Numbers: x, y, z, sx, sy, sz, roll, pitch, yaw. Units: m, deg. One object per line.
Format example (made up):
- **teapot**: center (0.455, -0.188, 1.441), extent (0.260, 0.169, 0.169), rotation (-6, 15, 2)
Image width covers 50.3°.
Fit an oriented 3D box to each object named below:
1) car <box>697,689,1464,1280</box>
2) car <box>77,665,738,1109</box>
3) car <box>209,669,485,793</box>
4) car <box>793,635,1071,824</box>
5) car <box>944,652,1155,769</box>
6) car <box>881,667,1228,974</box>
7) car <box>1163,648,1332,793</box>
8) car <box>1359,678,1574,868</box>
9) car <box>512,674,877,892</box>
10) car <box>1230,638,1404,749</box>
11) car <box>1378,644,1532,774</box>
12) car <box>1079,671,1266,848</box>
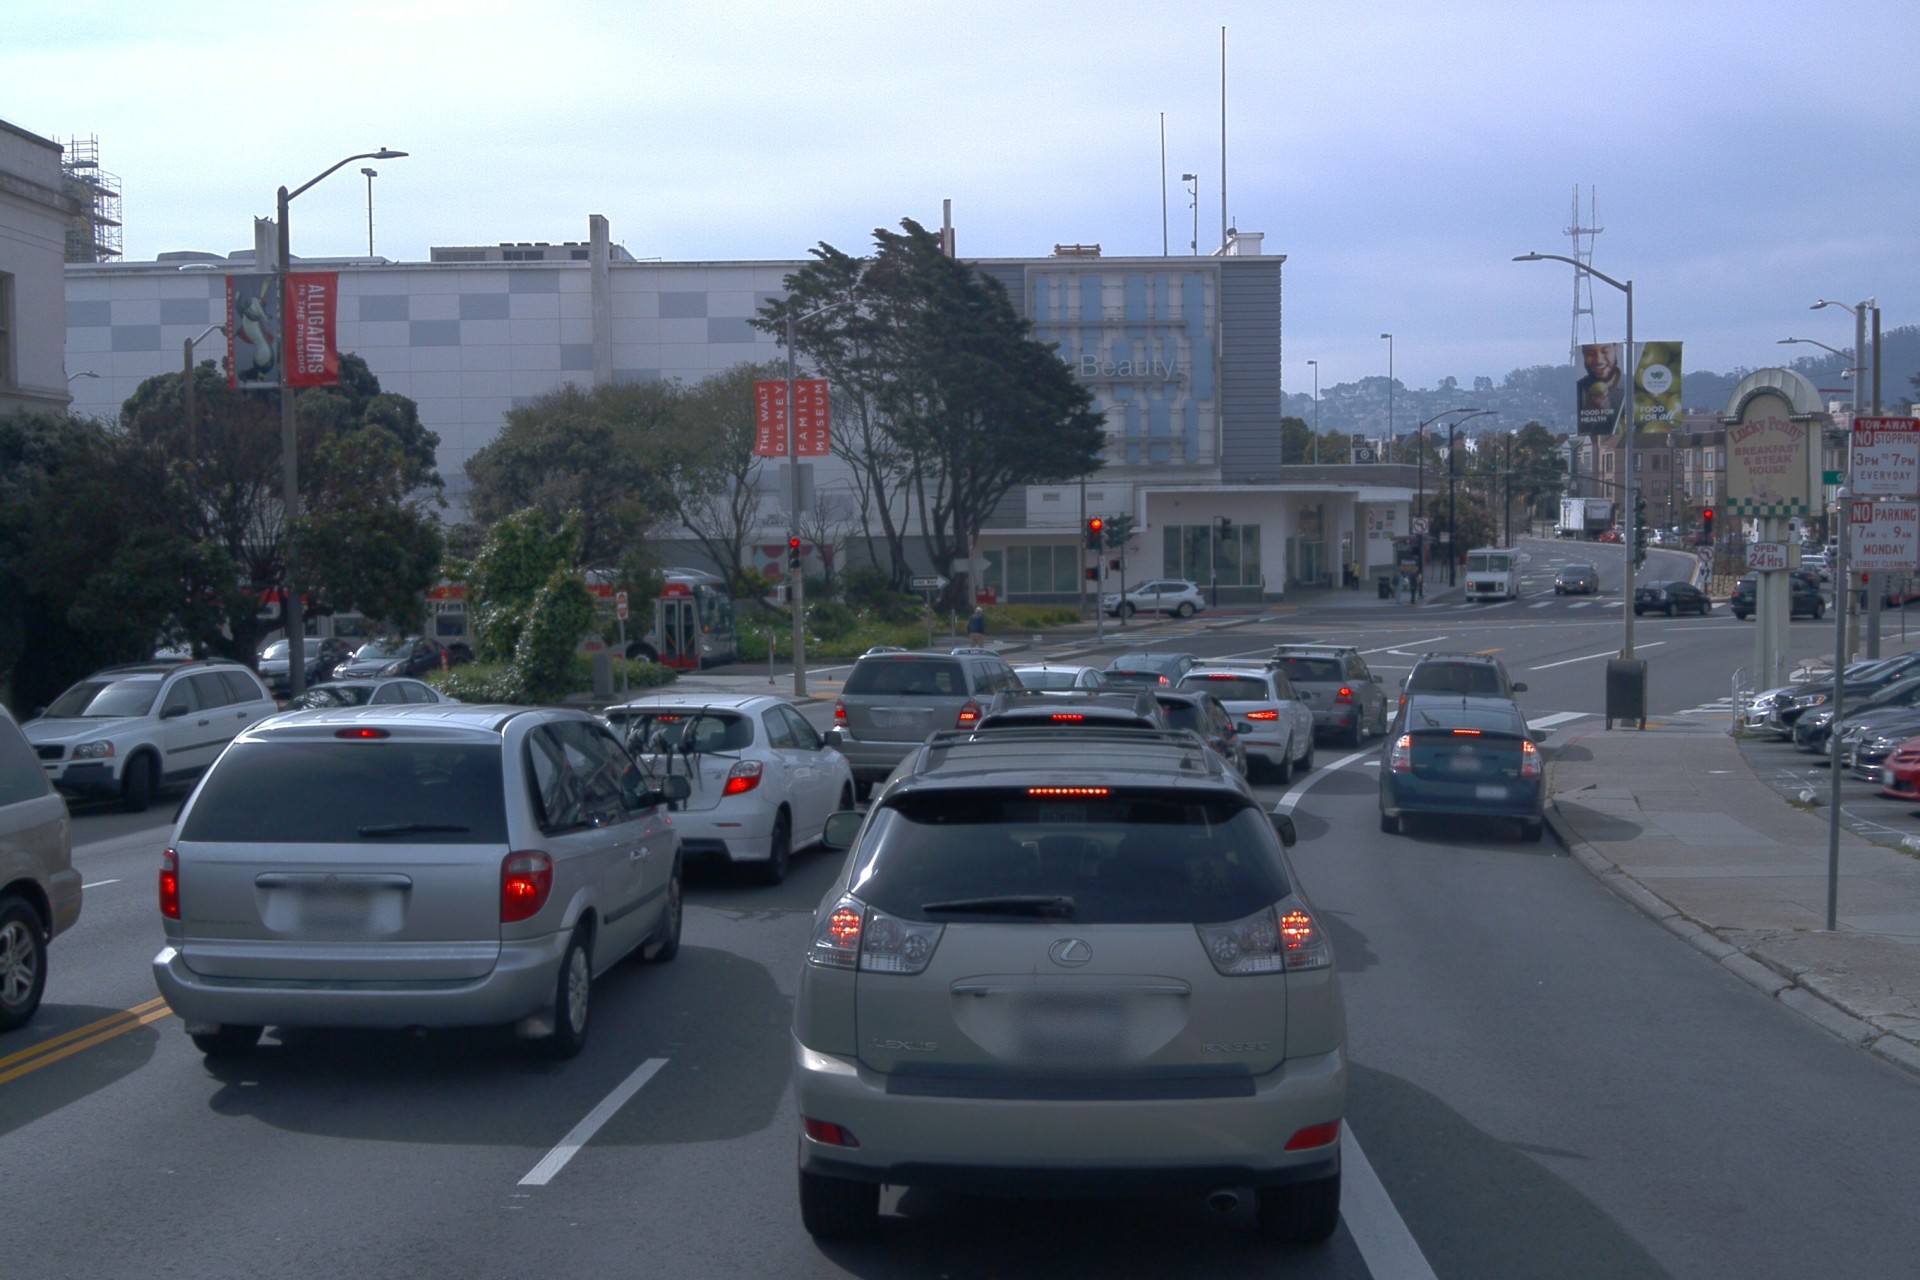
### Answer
- **car**: center (0.409, 1.163, 8.141), extent (2.197, 1.780, 4.467), rotation (1, 0, 2)
- **car**: center (-2.681, 1.102, 11.269), extent (2.131, 1.830, 4.635), rotation (1, 0, 4)
- **car**: center (-9.225, 1.308, 31.232), extent (1.977, 1.640, 4.663), rotation (1, 0, 13)
- **car**: center (-0.209, 0.996, 25.529), extent (2.236, 2.100, 4.827), rotation (1, 0, 15)
- **car**: center (1.530, 1.055, 32.743), extent (2.220, 1.670, 4.643), rotation (1, 0, 18)
- **car**: center (0.883, 1.192, 15.459), extent (2.119, 1.870, 4.391), rotation (1, 0, 9)
- **car**: center (4.187, 1.069, 29.253), extent (1.795, 1.880, 4.044), rotation (1, 0, 17)
- **car**: center (5.631, 1.394, 23.175), extent (2.113, 1.790, 4.645), rotation (1, 0, 12)
- **car**: center (-2.121, 1.116, 17.681), extent (1.982, 1.530, 4.306), rotation (1, 0, 9)
- **car**: center (6.645, 0.906, 37.538), extent (2.226, 1.850, 5.307), rotation (1, 0, 20)
- **car**: center (8.564, 1.108, 35.069), extent (2.203, 2.020, 4.801), rotation (1, 0, 18)
- **car**: center (2.542, 1.293, 23.698), extent (1.526, 1.780, 3.939), rotation (1, 0, 15)
